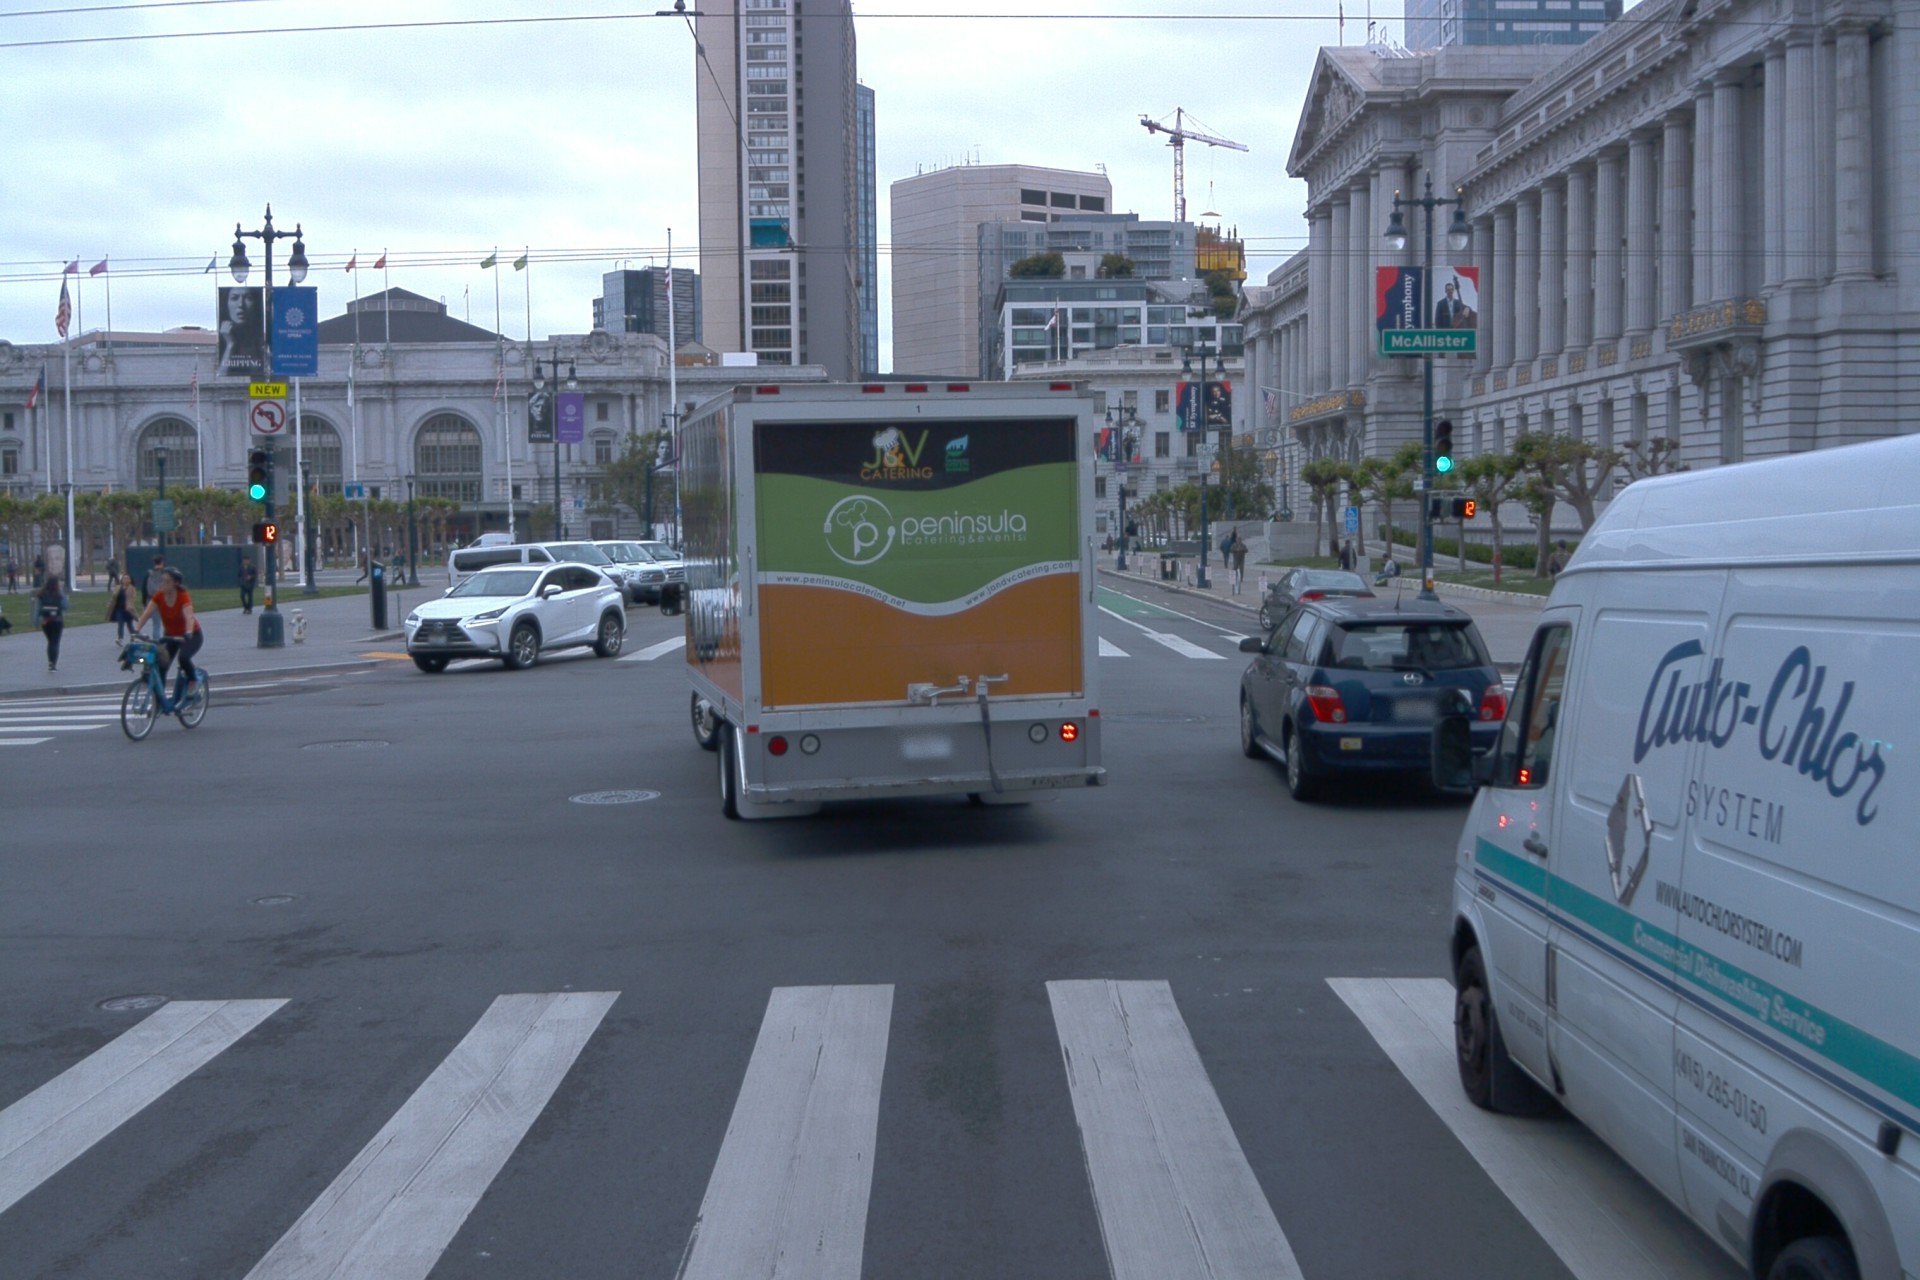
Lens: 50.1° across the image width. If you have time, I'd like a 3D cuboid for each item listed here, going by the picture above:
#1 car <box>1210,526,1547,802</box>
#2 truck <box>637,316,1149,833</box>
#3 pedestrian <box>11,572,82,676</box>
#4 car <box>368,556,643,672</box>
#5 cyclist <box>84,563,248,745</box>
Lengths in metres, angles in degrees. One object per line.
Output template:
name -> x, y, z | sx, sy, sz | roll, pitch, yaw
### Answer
car -> 3.279, 0.144, 16.913 | 1.934, 1.990, 4.031 | 0, 1, 0
truck -> -0.958, -0.483, 16.996 | 2.912, 3.300, 7.298 | -1, 1, -12
pedestrian -> -15.381, -0.276, 34.639 | 0.792, 1.734, 0.967 | 0, 1, -3
car -> -7.075, -0.414, 32.562 | 2.192, 1.692, 4.580 | 0, 1, 19
cyclist -> -8.398, 0.127, 21.847 | 0.829, 1.850, 1.924 | 0, 1, 6
